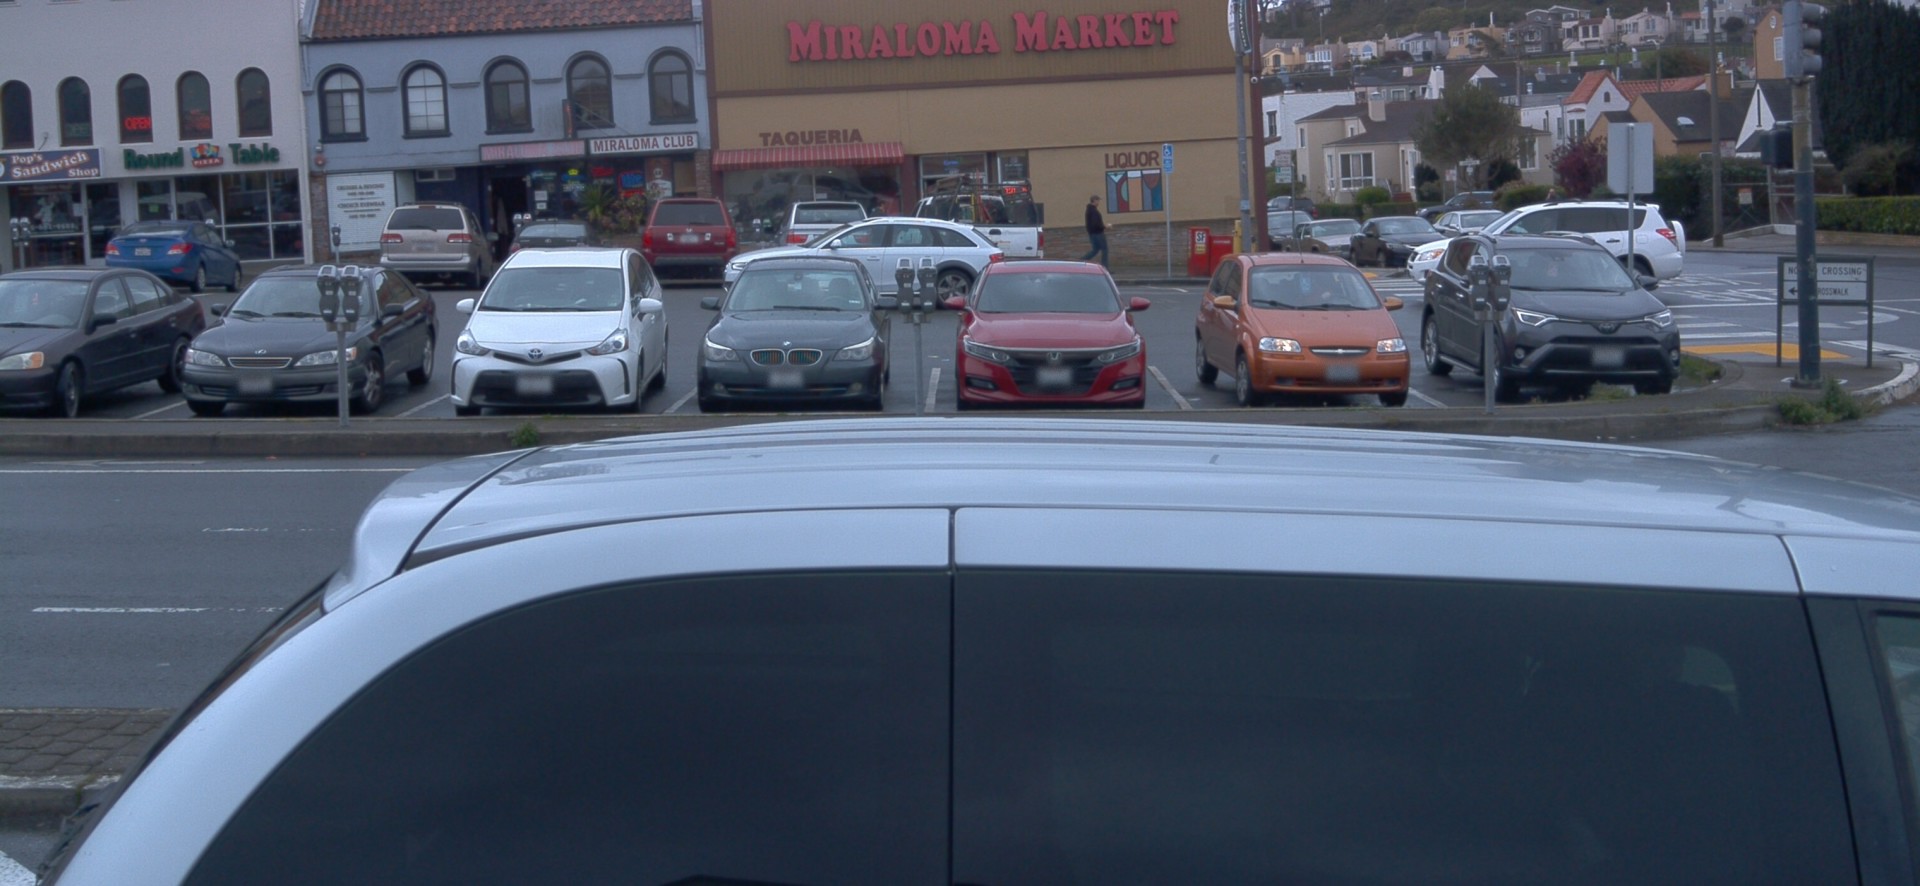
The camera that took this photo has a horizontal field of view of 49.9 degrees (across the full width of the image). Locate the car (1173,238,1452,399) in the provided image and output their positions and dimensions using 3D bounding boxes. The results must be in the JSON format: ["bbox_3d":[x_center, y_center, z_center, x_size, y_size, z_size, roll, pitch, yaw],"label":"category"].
[{"bbox_3d":[3.600,-1.396,21.819,2.049,1.462,4.037,0,6,-4],"label":"car"}]

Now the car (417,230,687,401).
[{"bbox_3d":[-4.056,-1.416,21.296,2.132,1.491,4.678,0,6,-4],"label":"car"}]

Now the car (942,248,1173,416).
[{"bbox_3d":[0.906,-1.268,21.830,2.185,1.461,4.636,0,6,-1],"label":"car"}]

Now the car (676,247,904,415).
[{"bbox_3d":[-1.658,-1.270,21.658,2.112,1.461,4.574,0,6,-1],"label":"car"}]

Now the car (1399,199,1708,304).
[{"bbox_3d":[10.033,-3.293,35.196,4.736,1.734,2.066,0,4,3],"label":"car"}]

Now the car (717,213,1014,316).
[{"bbox_3d":[-1.594,-2.968,33.931,4.663,1.604,2.076,-1,5,-10],"label":"car"}]

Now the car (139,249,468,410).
[{"bbox_3d":[-6.719,-1.287,21.703,2.023,1.392,4.712,0,6,-1],"label":"car"}]

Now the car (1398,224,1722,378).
[{"bbox_3d":[6.389,-1.639,22.575,2.205,1.461,4.580,0,6,0],"label":"car"}]
